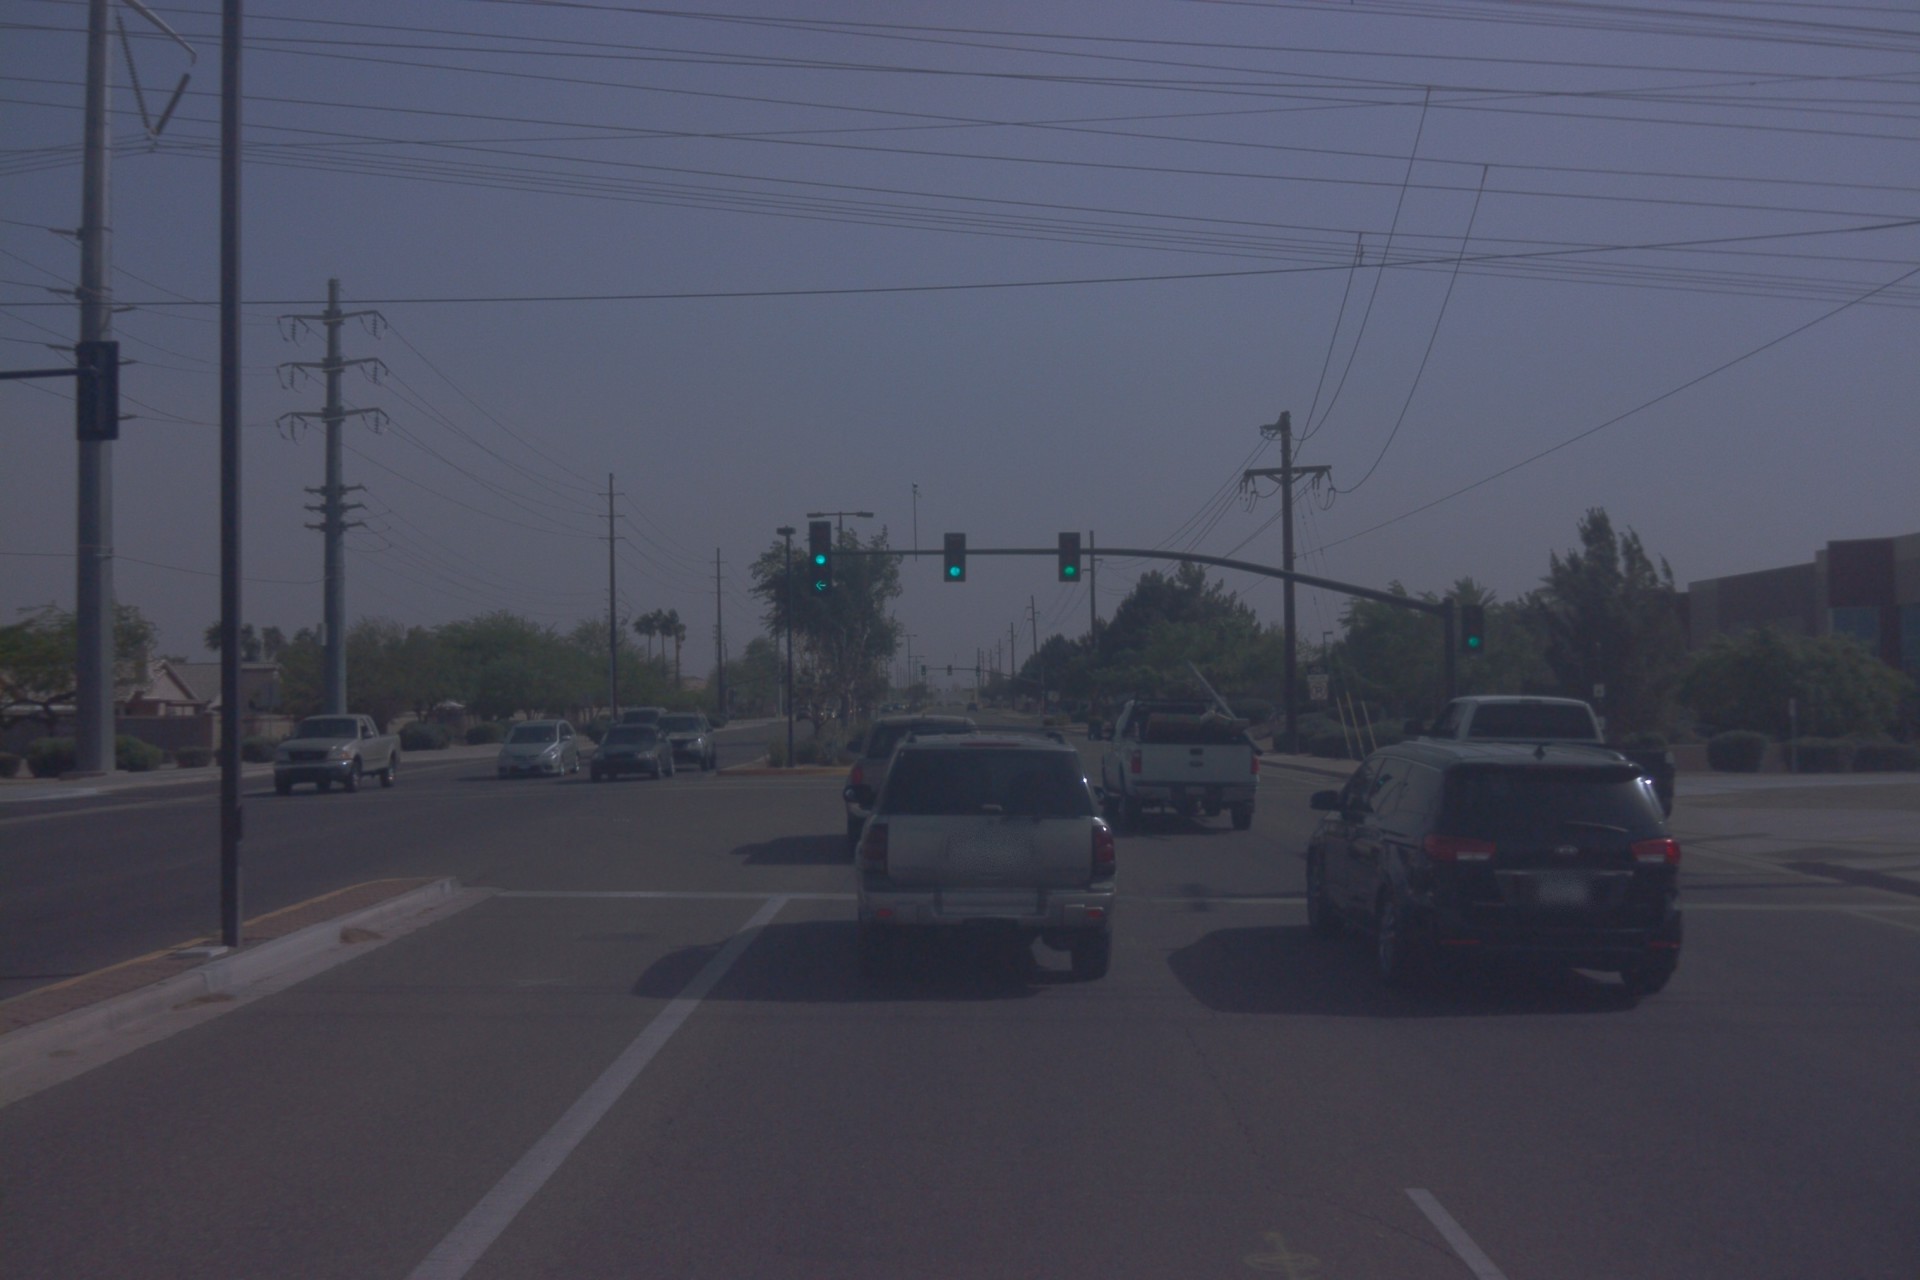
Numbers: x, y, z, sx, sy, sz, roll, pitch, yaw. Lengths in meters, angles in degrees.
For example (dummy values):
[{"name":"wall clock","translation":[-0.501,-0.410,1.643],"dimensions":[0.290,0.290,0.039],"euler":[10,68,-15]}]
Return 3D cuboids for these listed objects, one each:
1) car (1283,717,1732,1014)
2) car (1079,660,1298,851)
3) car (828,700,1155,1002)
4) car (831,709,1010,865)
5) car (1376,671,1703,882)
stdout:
[{"name":"car","translation":[3.955,1.566,16.039],"dimensions":[2.145,1.800,4.883],"euler":[0,-1,0]},{"name":"car","translation":[3.464,1.691,33.165],"dimensions":[2.664,2.710,6.759],"euler":[0,-1,0]},{"name":"car","translation":[0.143,1.500,16.455],"dimensions":[2.201,1.960,4.684],"euler":[0,-1,-2]},{"name":"car","translation":[-0.476,1.844,27.259],"dimensions":[2.149,1.780,4.304],"euler":[0,-1,0]},{"name":"car","translation":[7.189,1.587,26.744],"dimensions":[2.415,2.350,6.496],"euler":[0,-1,0]}]
